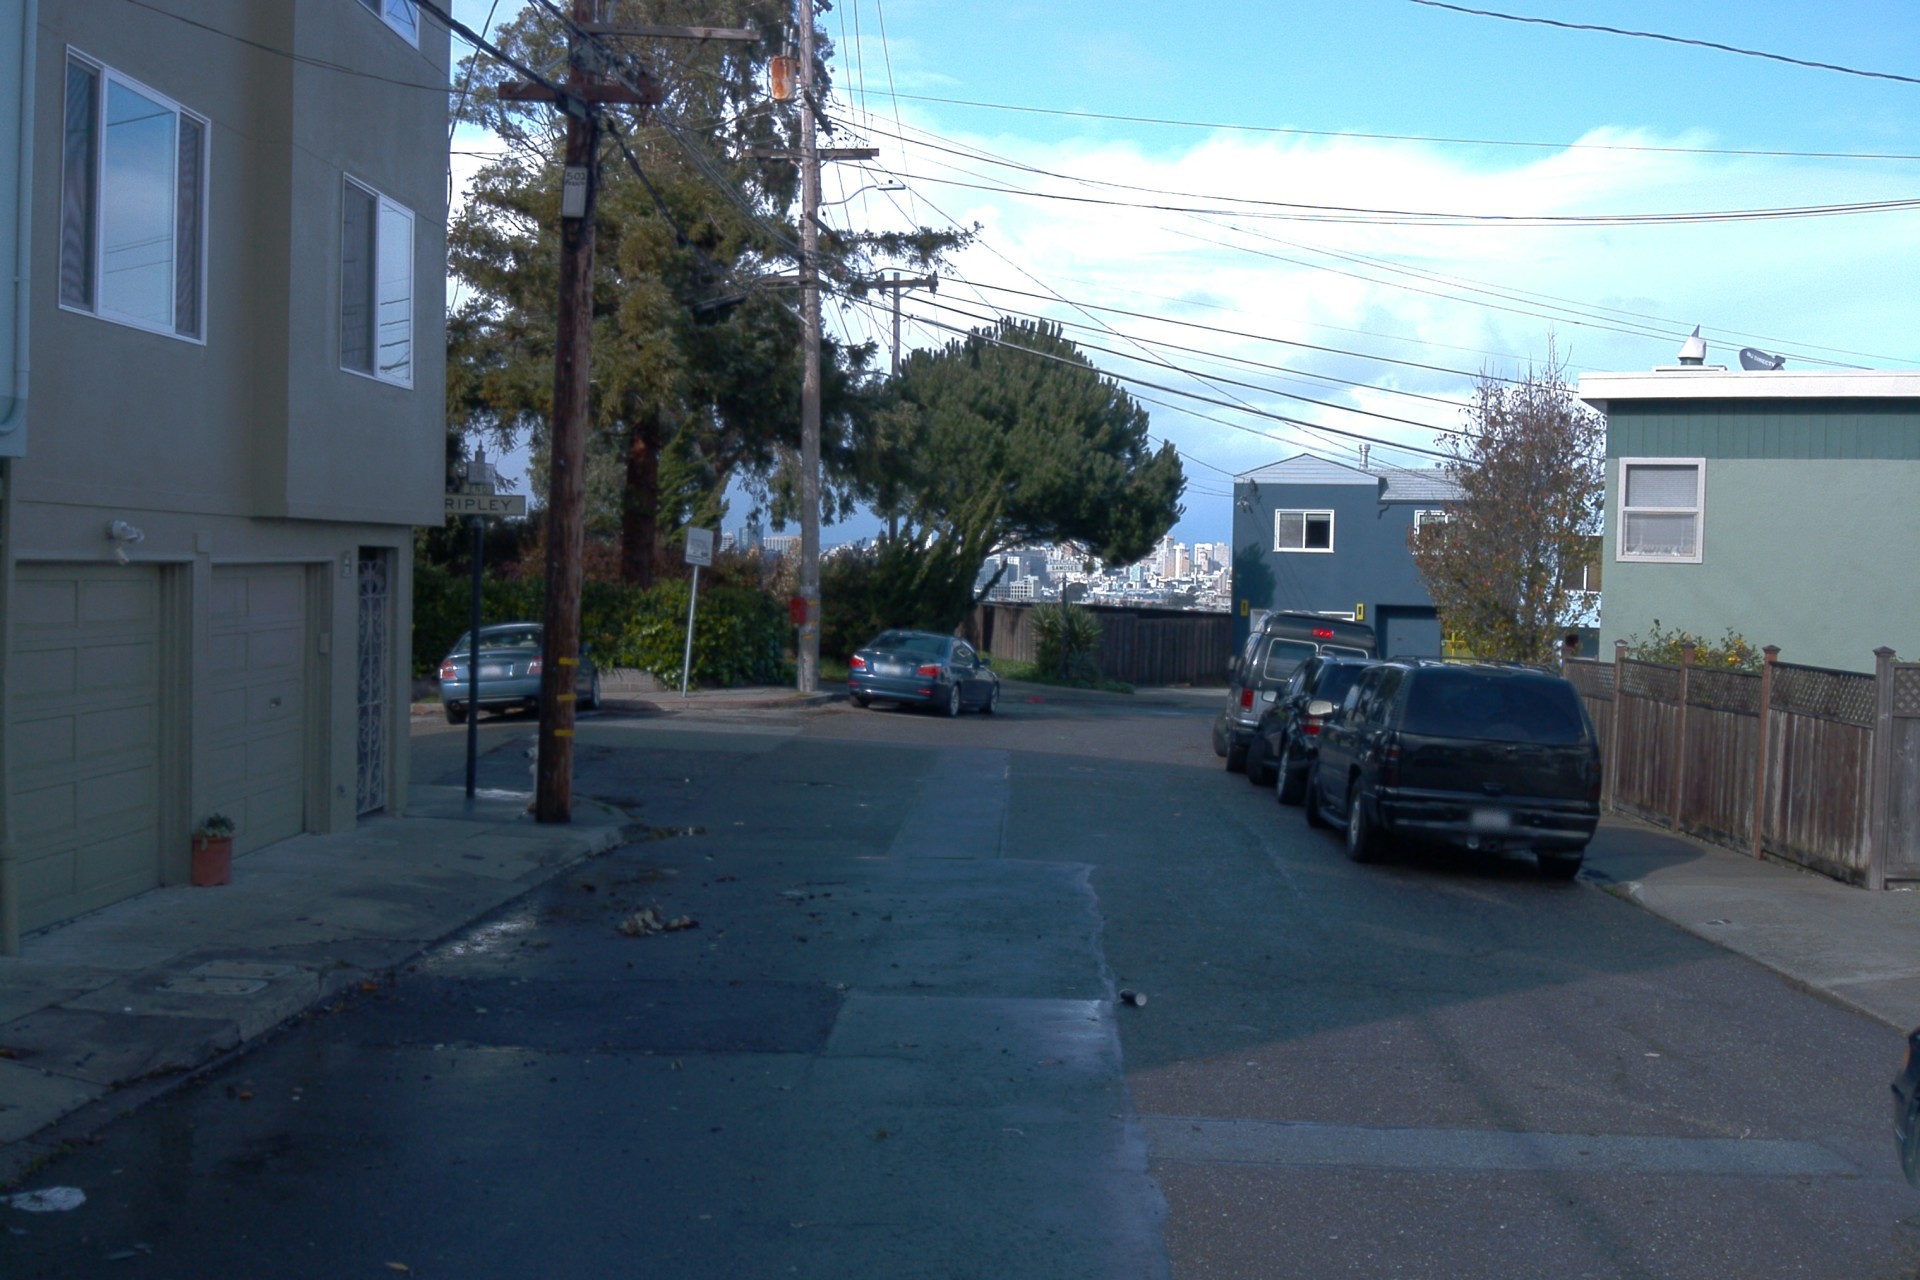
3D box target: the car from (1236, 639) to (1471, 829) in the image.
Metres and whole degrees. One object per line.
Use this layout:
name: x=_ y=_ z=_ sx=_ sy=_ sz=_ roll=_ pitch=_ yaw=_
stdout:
car: x=4.608 y=1.026 z=24.785 sx=2.071 sy=1.960 sz=4.716 roll=1 pitch=1 yaw=2

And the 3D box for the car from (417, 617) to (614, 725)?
car: x=-6.590 y=0.407 z=30.956 sx=1.906 sy=1.450 sz=4.515 roll=1 pitch=1 yaw=1

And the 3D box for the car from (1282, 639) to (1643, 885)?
car: x=4.481 y=0.988 z=19.268 sx=2.281 sy=1.880 sz=5.115 roll=1 pitch=1 yaw=2

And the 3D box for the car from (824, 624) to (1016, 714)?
car: x=-0.630 y=0.462 z=36.570 sx=2.158 sy=1.430 sz=4.595 roll=1 pitch=1 yaw=16

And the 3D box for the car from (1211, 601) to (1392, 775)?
car: x=4.896 y=0.599 z=30.239 sx=2.287 sy=2.280 sz=5.497 roll=1 pitch=1 yaw=6
